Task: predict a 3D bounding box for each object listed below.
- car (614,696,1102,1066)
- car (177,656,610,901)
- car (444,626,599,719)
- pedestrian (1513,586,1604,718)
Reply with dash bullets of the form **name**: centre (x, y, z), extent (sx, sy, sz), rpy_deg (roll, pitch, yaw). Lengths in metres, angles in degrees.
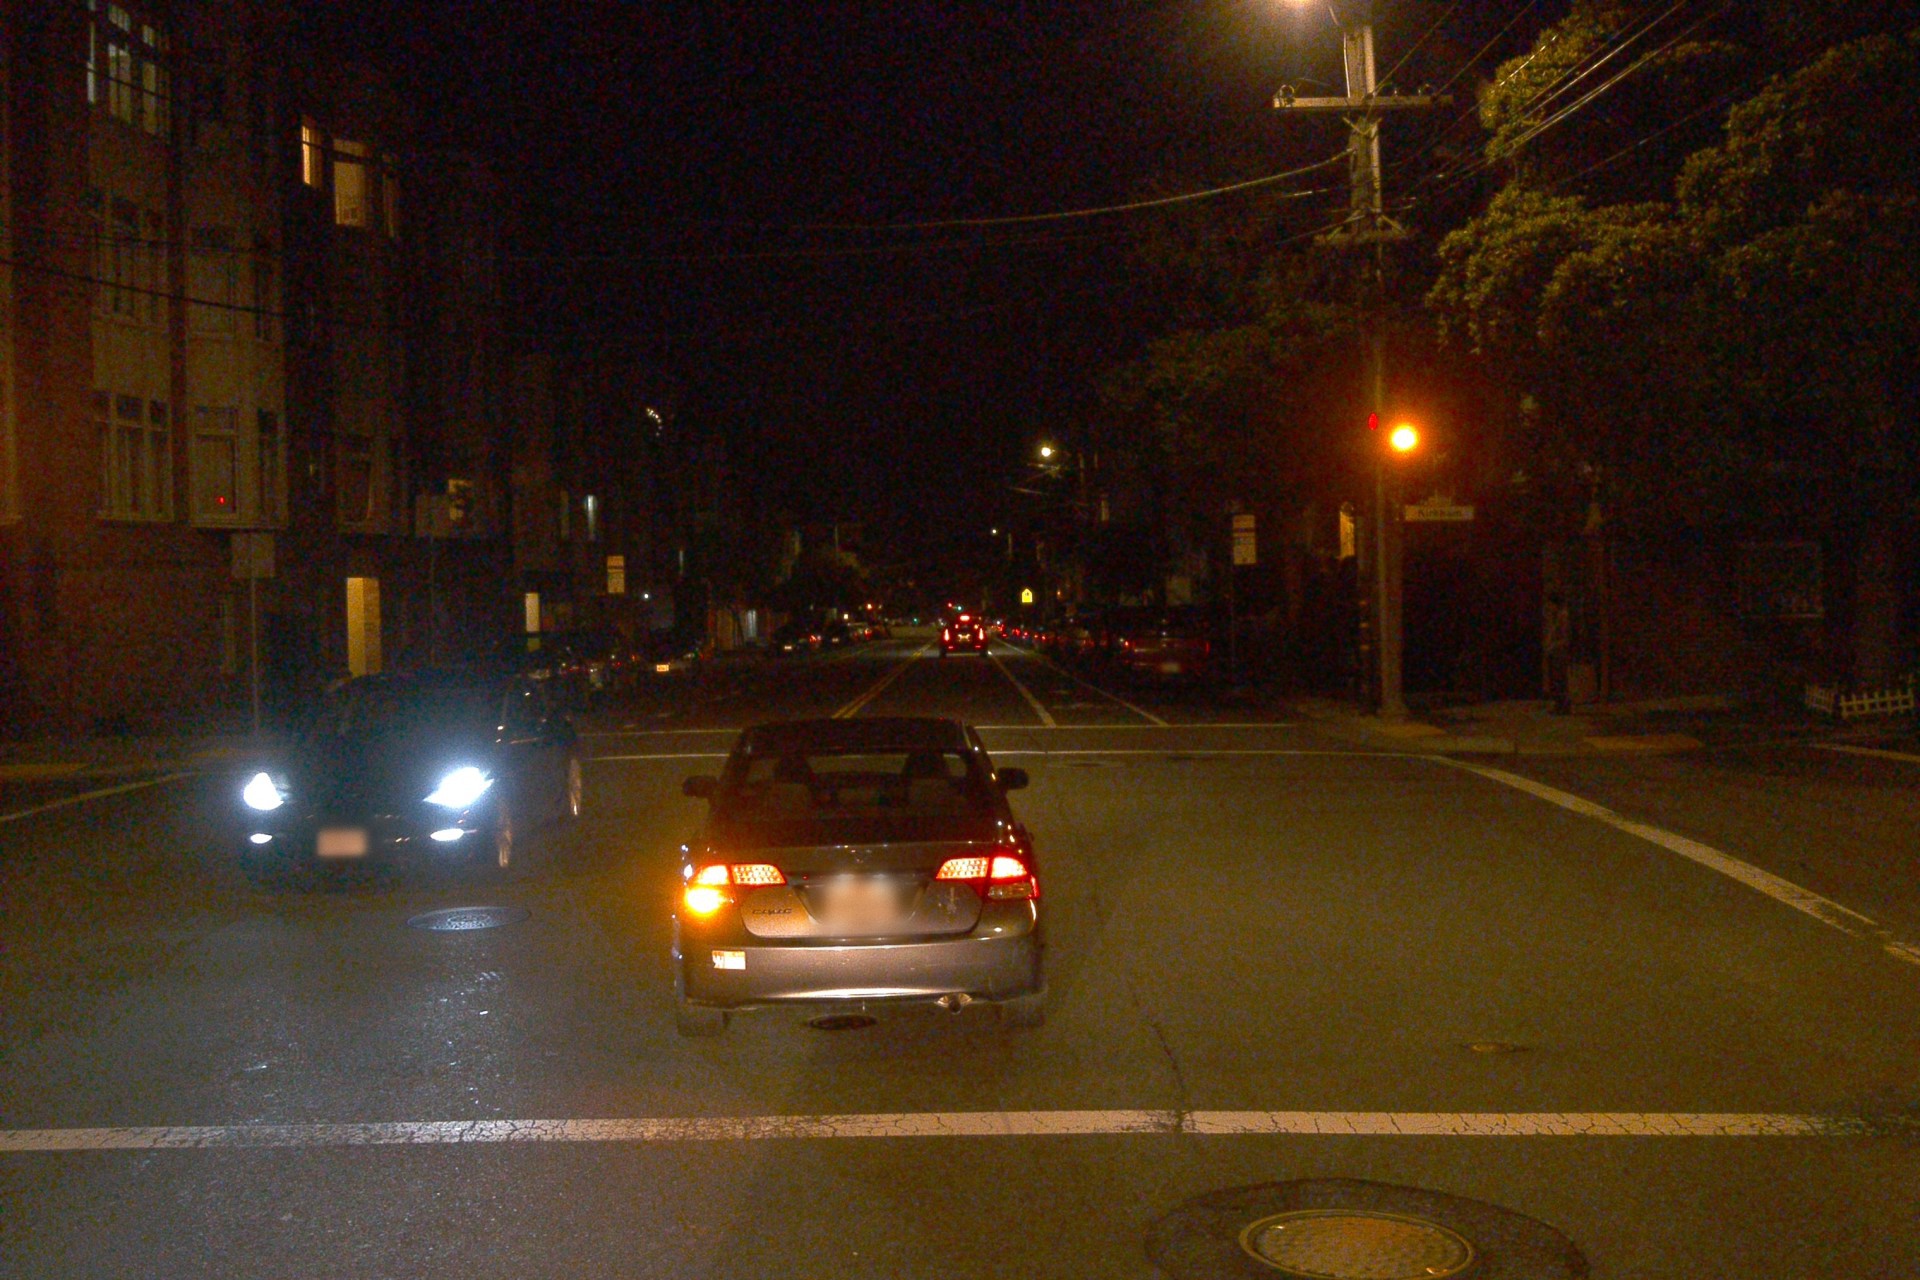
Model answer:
- **car**: centre (-0.520, 1.094, 11.023), extent (2.070, 1.420, 4.588), rpy_deg (0, 0, -2)
- **car**: centre (-4.194, 0.947, 16.019), extent (2.149, 1.560, 4.642), rpy_deg (1, 0, -1)
- **car**: centre (-7.901, 0.542, 37.178), extent (1.948, 1.580, 4.098), rpy_deg (1, 0, 0)
- **pedestrian**: centre (7.813, 0.156, 26.722), extent (0.936, 1.691, 0.623), rpy_deg (0, 0, -16)
